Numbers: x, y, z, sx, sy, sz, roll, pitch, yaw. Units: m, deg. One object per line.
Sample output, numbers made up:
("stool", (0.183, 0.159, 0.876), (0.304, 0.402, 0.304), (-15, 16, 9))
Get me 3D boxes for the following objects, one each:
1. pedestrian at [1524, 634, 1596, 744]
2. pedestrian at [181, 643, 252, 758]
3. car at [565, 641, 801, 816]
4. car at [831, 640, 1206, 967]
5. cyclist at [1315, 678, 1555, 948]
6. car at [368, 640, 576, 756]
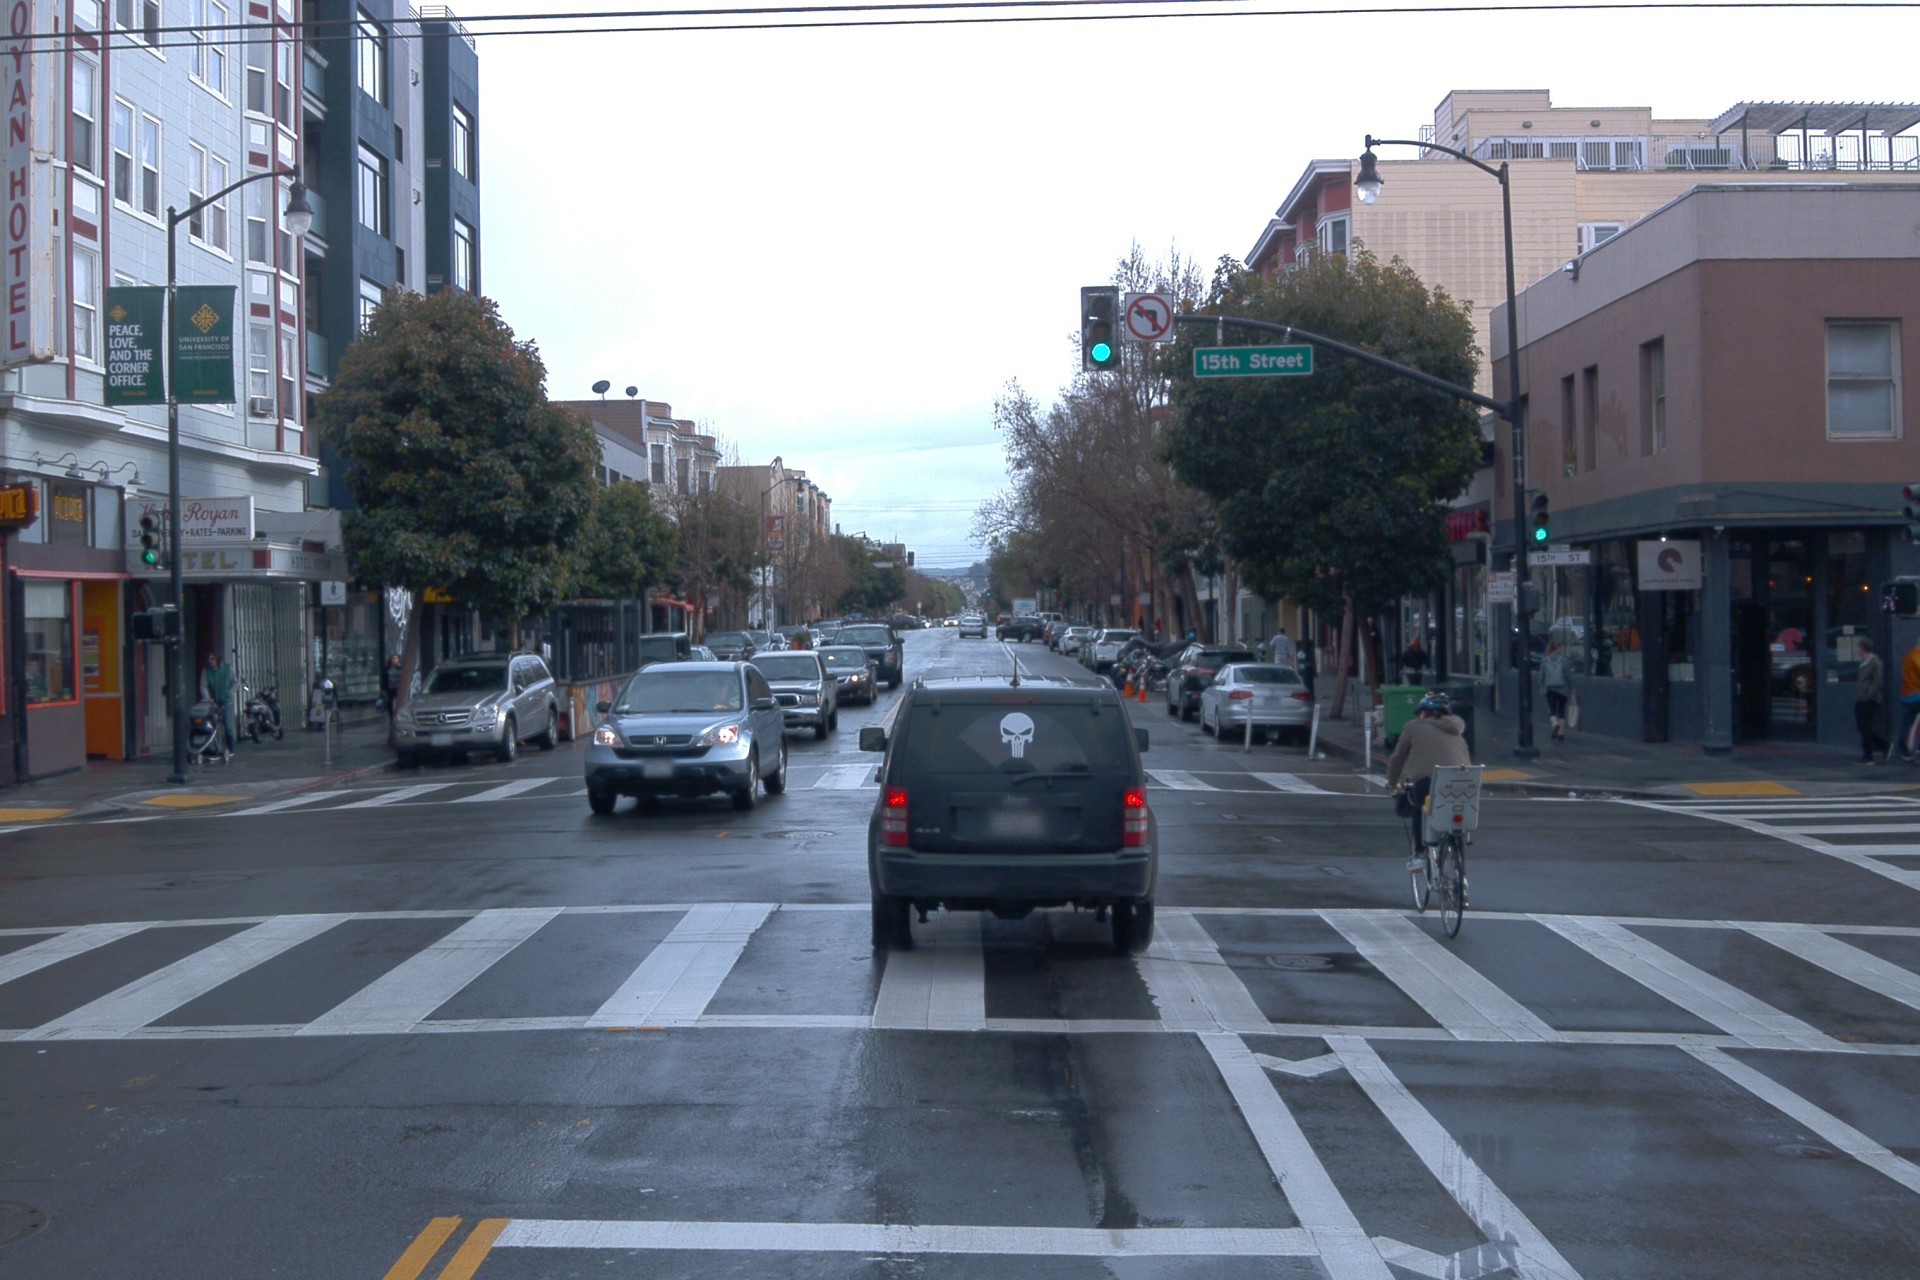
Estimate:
("pedestrian", (9.999, 0.804, 34.111), (0.997, 1.800, 0.925), (1, 0, 7))
("pedestrian", (-12.635, 1.022, 34.785), (0.870, 1.910, 0.948), (0, 0, -2))
("car", (-3.097, 0.935, 23.796), (2.010, 1.800, 4.501), (1, 0, 2))
("car", (0.368, 0.963, 14.252), (2.194, 1.885, 4.386), (1, 0, 1))
("cyclist", (3.296, 1.156, 14.439), (1.265, 1.710, 2.011), (1, 0, 2))
("car", (-8.599, 0.957, 36.599), (2.242, 1.870, 5.560), (1, 0, 2))
